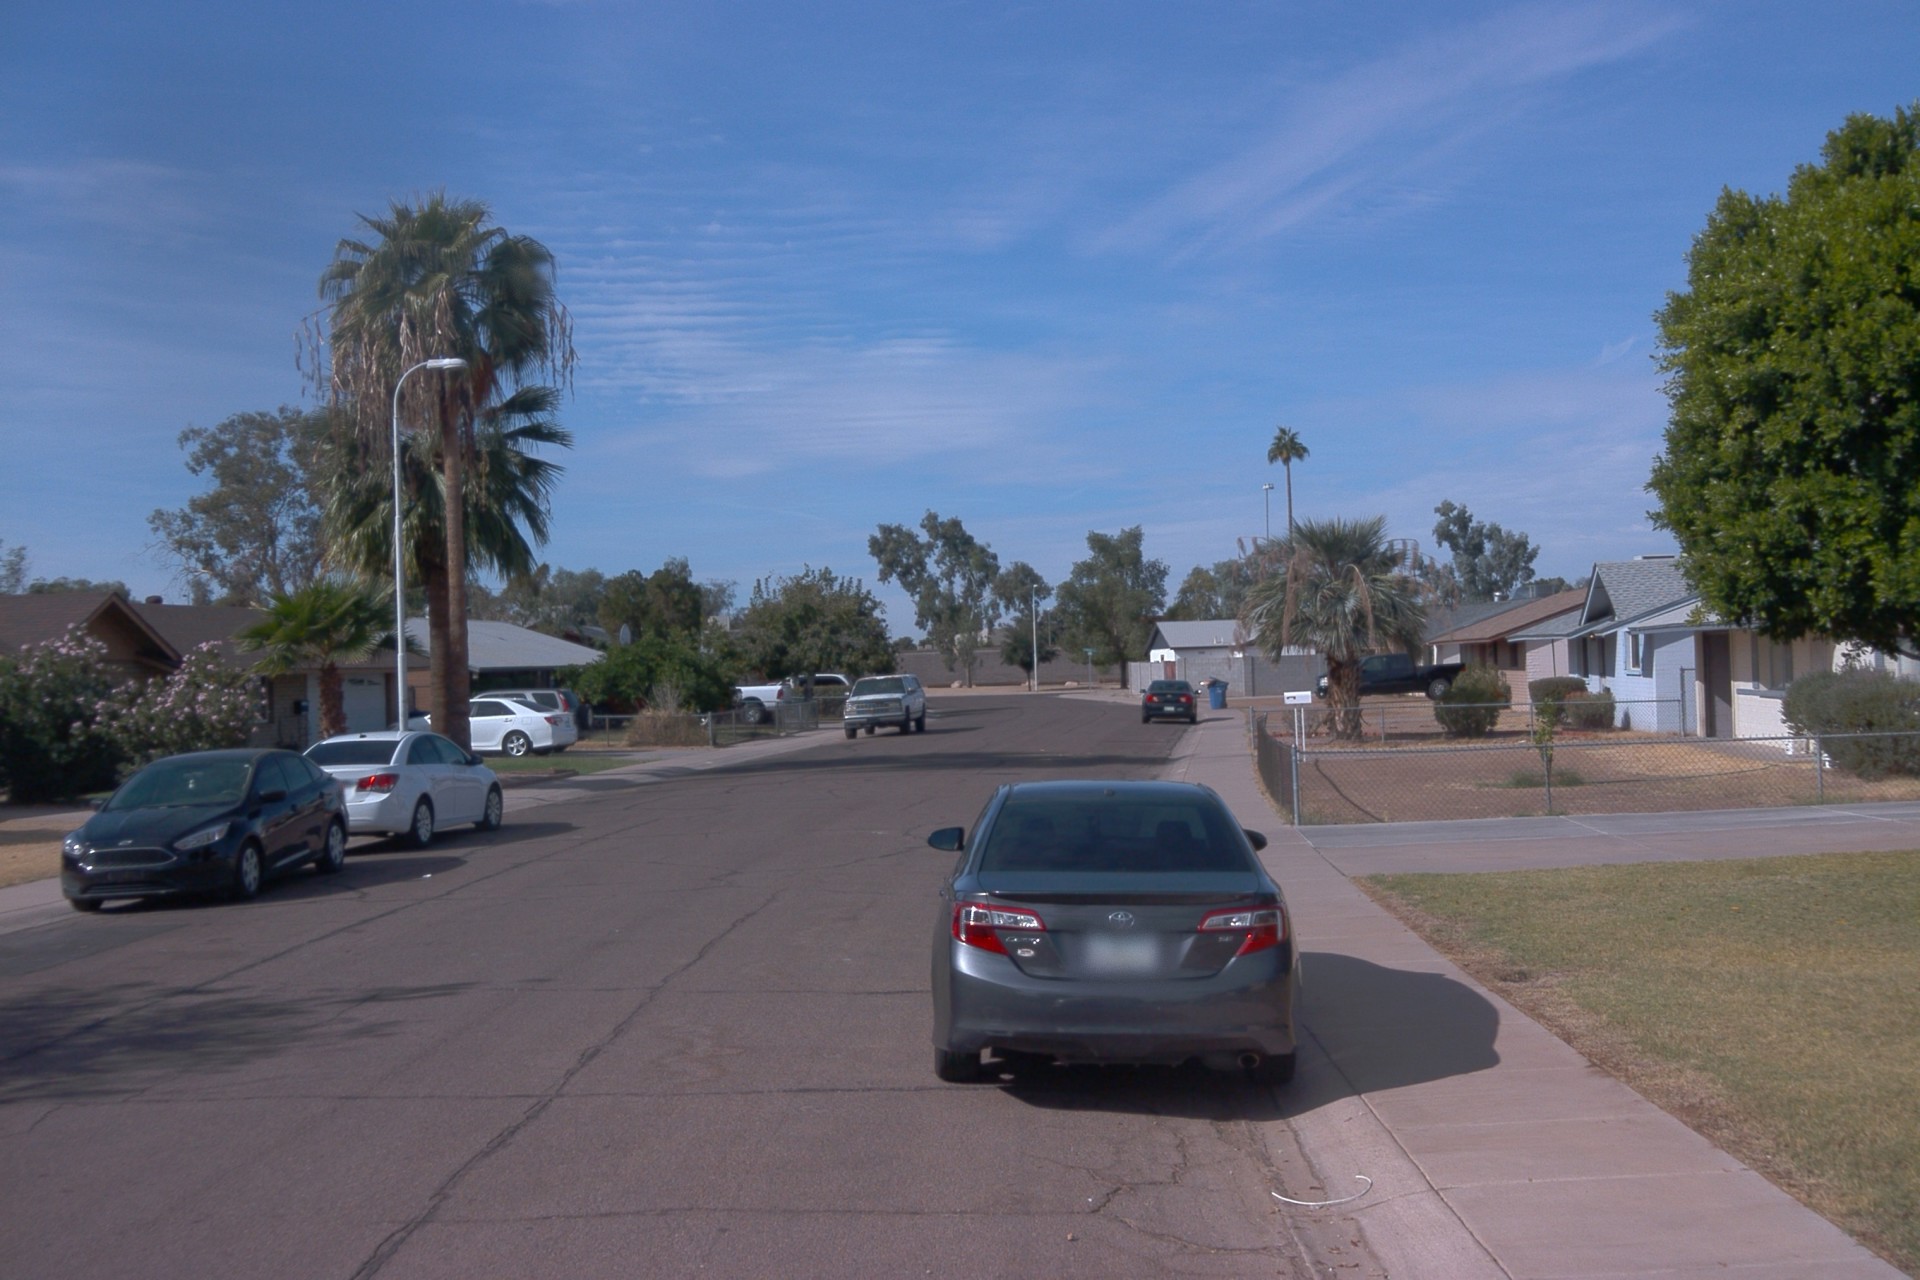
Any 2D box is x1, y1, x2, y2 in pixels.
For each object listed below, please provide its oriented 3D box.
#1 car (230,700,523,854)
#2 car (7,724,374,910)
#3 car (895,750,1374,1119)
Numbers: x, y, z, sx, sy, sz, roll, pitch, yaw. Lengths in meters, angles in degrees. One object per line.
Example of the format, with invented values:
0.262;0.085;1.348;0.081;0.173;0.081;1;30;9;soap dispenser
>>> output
-7.479;1.698;27.167;2.079;1.770;4.631;0;-1;7;car
-7.786;1.733;21.558;2.055;1.610;4.523;0;-1;1;car
0.807;1.456;11.862;2.150;1.470;5.012;0;-1;1;car
